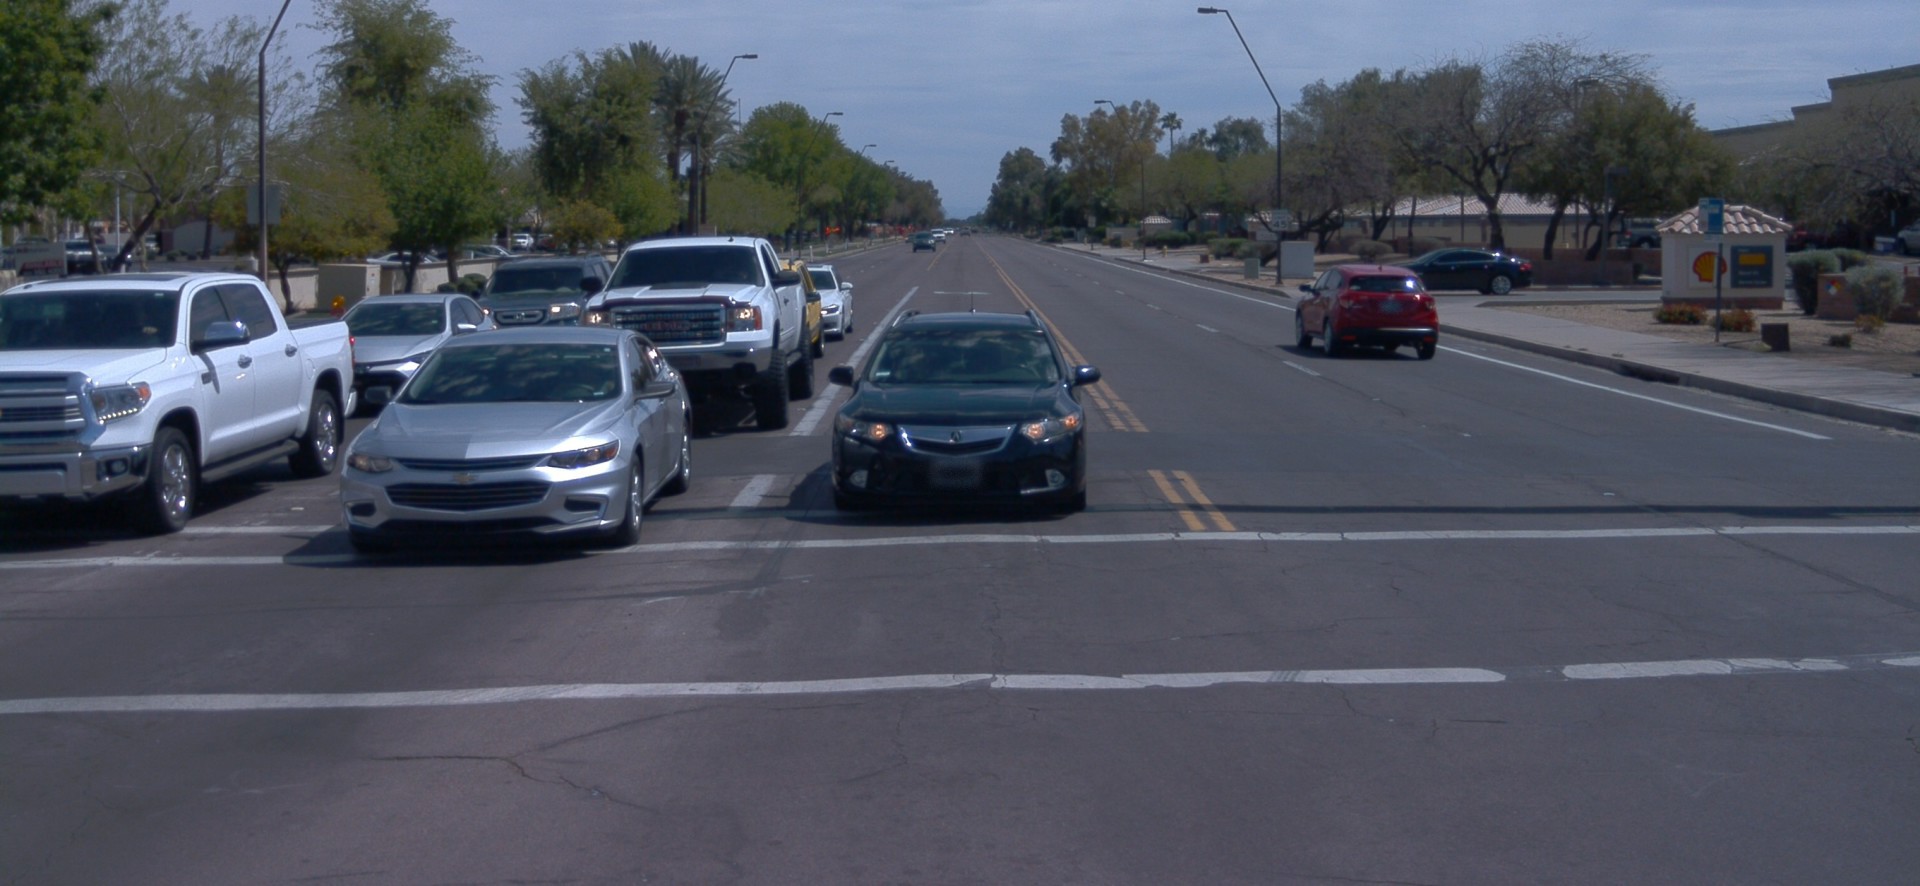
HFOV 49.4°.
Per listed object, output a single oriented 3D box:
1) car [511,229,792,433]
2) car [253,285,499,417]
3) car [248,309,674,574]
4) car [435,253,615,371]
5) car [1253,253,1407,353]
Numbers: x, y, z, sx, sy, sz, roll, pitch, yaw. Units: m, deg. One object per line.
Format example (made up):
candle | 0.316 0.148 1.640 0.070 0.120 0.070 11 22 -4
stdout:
car | -3.415 -1.442 24.458 2.434 2.092 5.862 0 5 0
car | -7.480 -1.267 27.196 2.018 1.464 4.426 0 5 -1
car | -3.530 -0.167 15.785 2.131 1.524 4.790 0 5 -1
car | -7.174 -2.249 34.907 2.019 1.794 4.682 0 5 0
car | 6.379 -2.482 36.406 1.901 1.604 4.060 0 5 -1
